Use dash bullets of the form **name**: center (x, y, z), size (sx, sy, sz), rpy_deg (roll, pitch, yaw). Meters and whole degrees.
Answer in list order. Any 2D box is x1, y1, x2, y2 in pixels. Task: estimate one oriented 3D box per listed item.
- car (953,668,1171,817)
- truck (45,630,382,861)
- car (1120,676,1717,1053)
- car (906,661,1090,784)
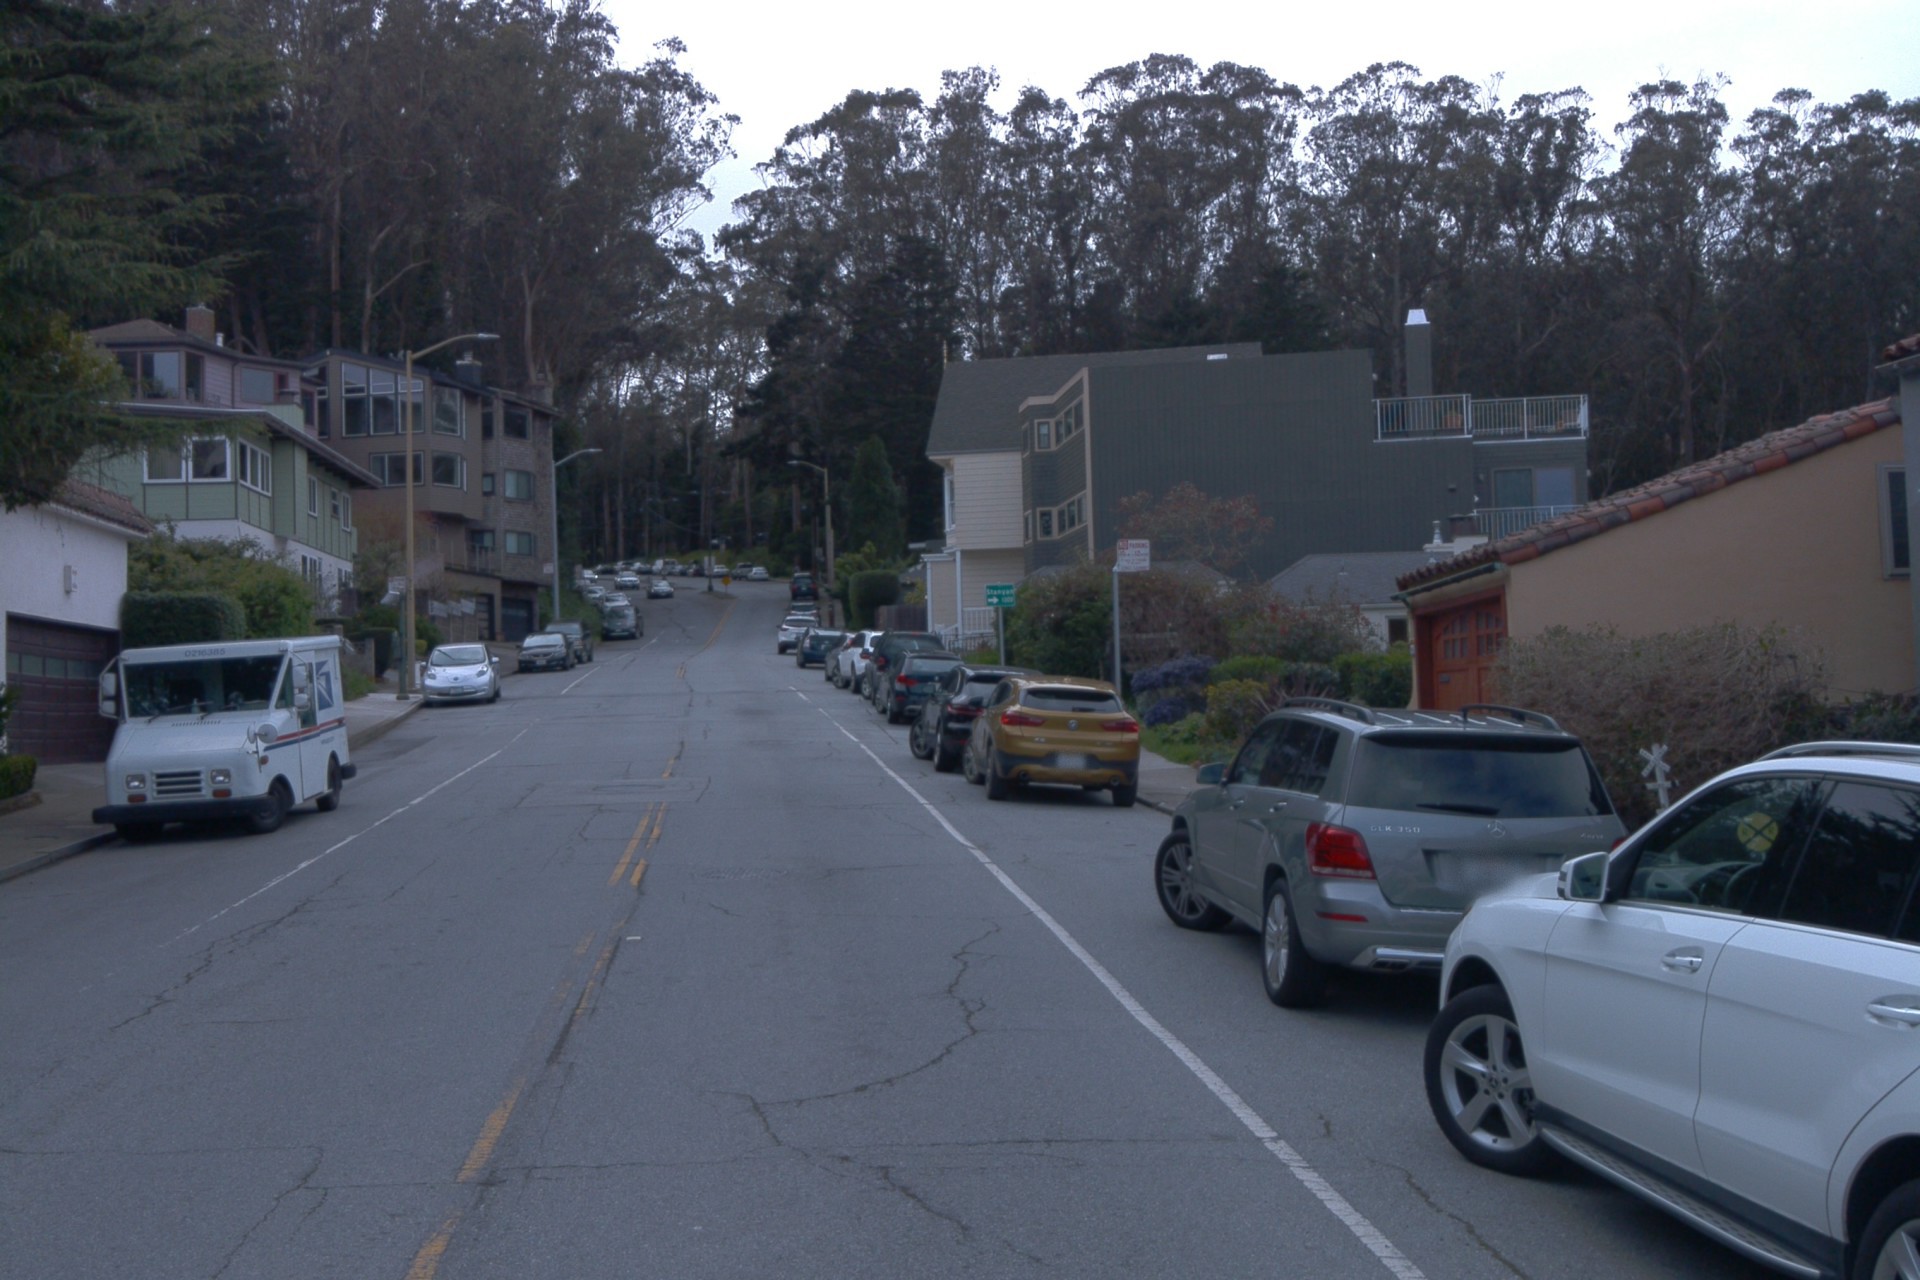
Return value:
- **car**: center (1.191, 1.229, 26.329), size (2.197, 1.600, 4.509), rpy_deg (0, 1, -5)
- **truck**: center (-8.369, 1.076, 23.601), size (2.467, 2.340, 4.635), rpy_deg (0, 1, -4)
- **car**: center (2.538, 1.176, 12.861), size (2.241, 1.750, 4.792), rpy_deg (0, 1, -6)
- **car**: center (0.479, 1.191, 31.513), size (2.323, 1.630, 4.754), rpy_deg (0, 1, -5)
